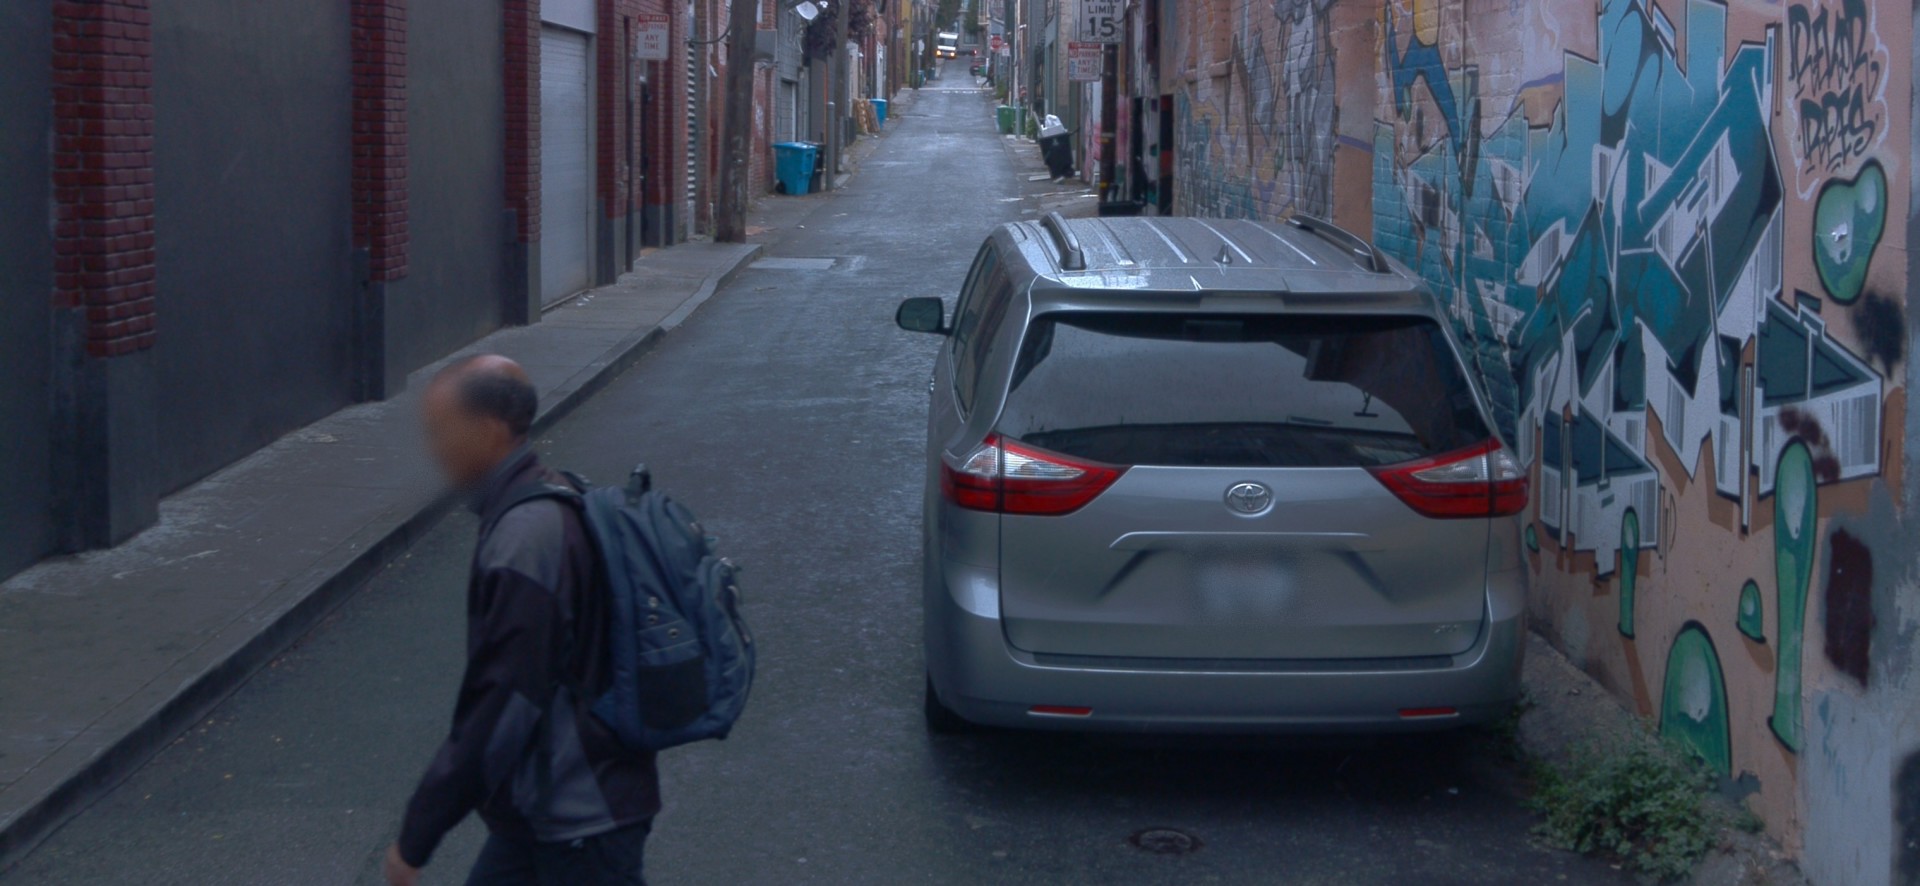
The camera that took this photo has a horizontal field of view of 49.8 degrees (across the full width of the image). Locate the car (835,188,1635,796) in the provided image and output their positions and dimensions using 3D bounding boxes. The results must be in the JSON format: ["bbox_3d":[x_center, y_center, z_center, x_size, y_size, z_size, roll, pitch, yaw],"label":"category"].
[{"bbox_3d":[0.855,-0.125,8.618,2.367,1.791,4.996,0,6,1],"label":"car"}]

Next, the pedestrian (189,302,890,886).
[{"bbox_3d":[-0.706,0.666,3.827,1.138,1.818,0.814,0,2,-2],"label":"pedestrian"}]
